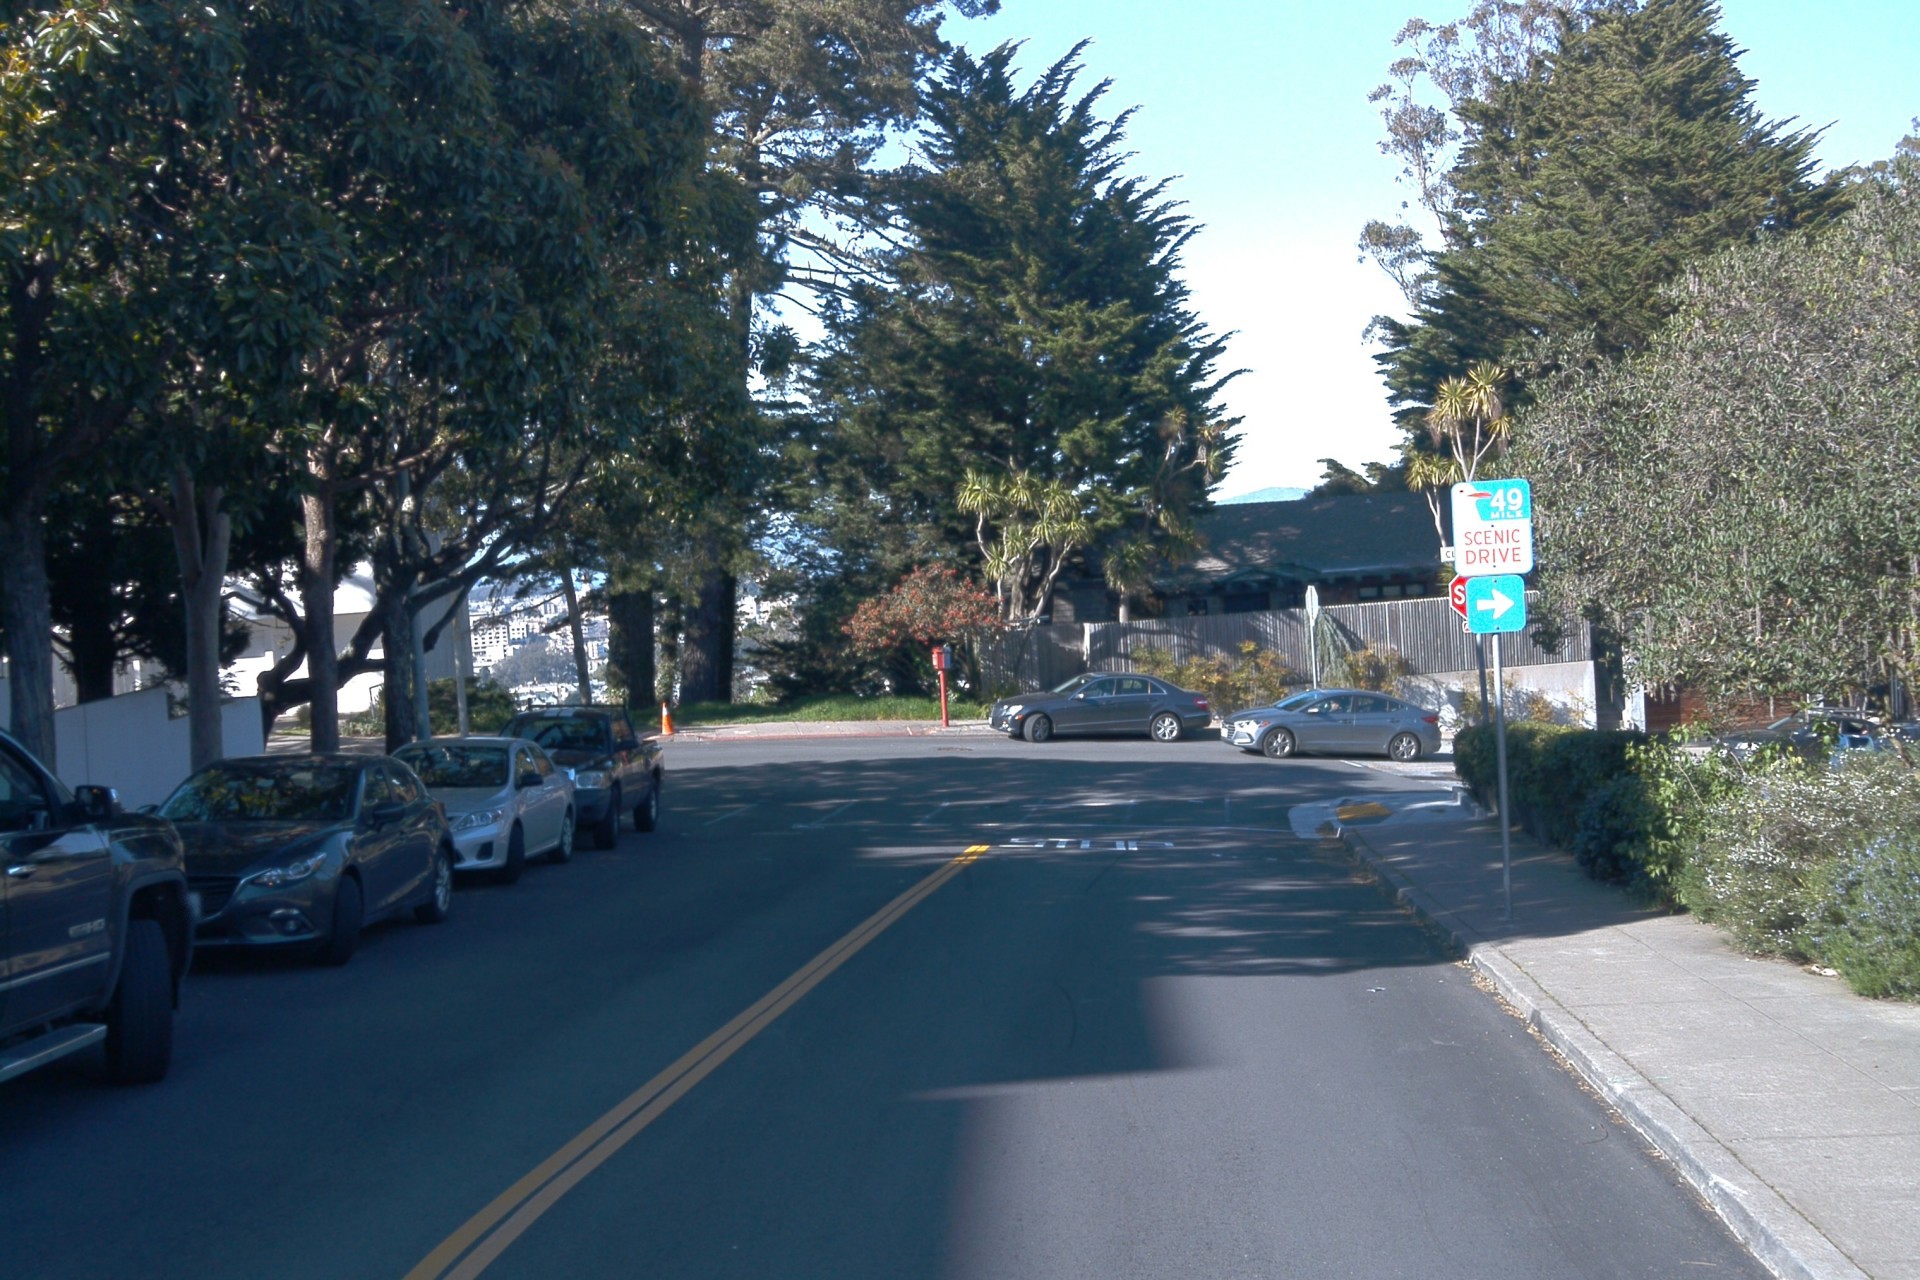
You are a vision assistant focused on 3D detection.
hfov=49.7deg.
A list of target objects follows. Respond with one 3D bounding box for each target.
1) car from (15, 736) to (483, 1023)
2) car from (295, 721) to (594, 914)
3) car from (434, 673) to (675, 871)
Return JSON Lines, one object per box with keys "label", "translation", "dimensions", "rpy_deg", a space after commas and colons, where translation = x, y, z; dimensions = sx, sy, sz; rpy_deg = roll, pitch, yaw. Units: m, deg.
{"label": "car", "translation": [-5.127, 1.657, 15.671], "dimensions": [2.082, 1.680, 4.439], "rpy_deg": [0, 0, -1]}
{"label": "car", "translation": [-5.287, 1.769, 21.897], "dimensions": [2.042, 1.670, 4.529], "rpy_deg": [0, 0, 0]}
{"label": "car", "translation": [-5.177, 1.607, 27.274], "dimensions": [2.123, 2.280, 5.583], "rpy_deg": [0, 0, 0]}
